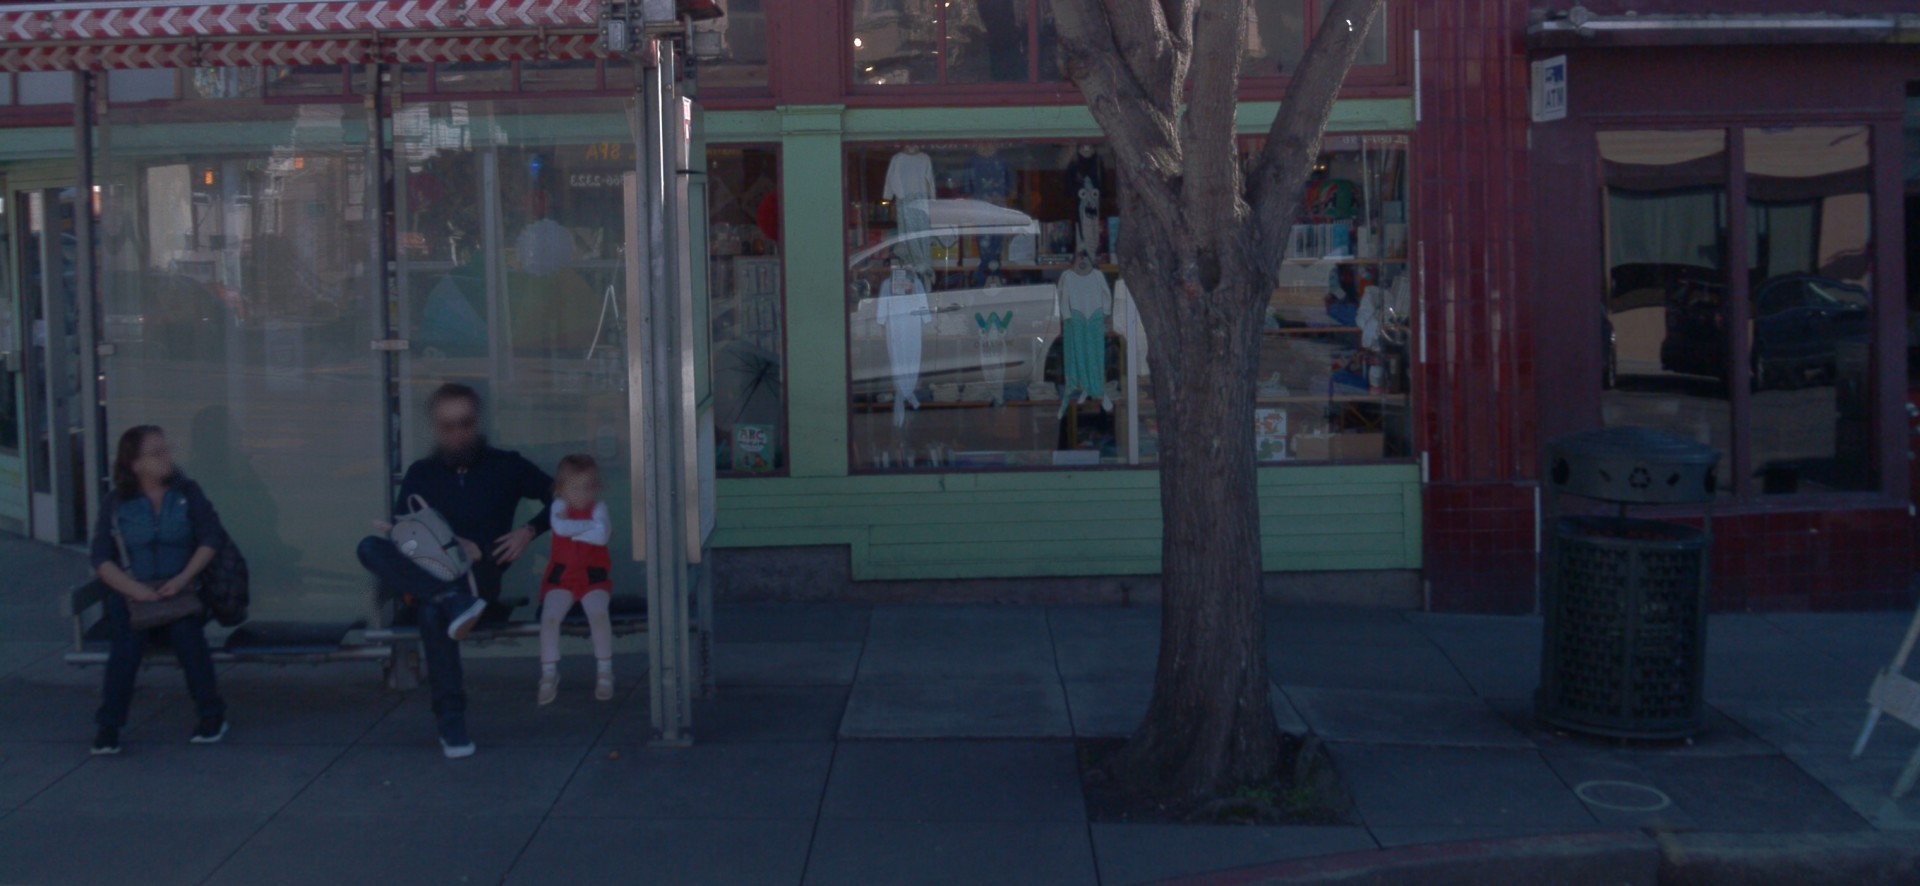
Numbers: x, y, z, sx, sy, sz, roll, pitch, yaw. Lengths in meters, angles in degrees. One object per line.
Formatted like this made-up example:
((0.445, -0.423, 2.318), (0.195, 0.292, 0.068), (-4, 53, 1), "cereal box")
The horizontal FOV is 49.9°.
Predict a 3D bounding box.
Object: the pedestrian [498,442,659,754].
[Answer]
((-1.466, 0.578, 7.997), (0.528, 1.098, 0.572), (0, 2, -3), "pedestrian")

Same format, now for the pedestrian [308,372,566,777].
((-1.989, 0.465, 7.976), (0.753, 1.398, 0.926), (0, 2, 0), "pedestrian")

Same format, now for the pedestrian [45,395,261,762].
((-3.126, 0.486, 8.060), (0.737, 1.258, 0.794), (-1, 2, -19), "pedestrian")
